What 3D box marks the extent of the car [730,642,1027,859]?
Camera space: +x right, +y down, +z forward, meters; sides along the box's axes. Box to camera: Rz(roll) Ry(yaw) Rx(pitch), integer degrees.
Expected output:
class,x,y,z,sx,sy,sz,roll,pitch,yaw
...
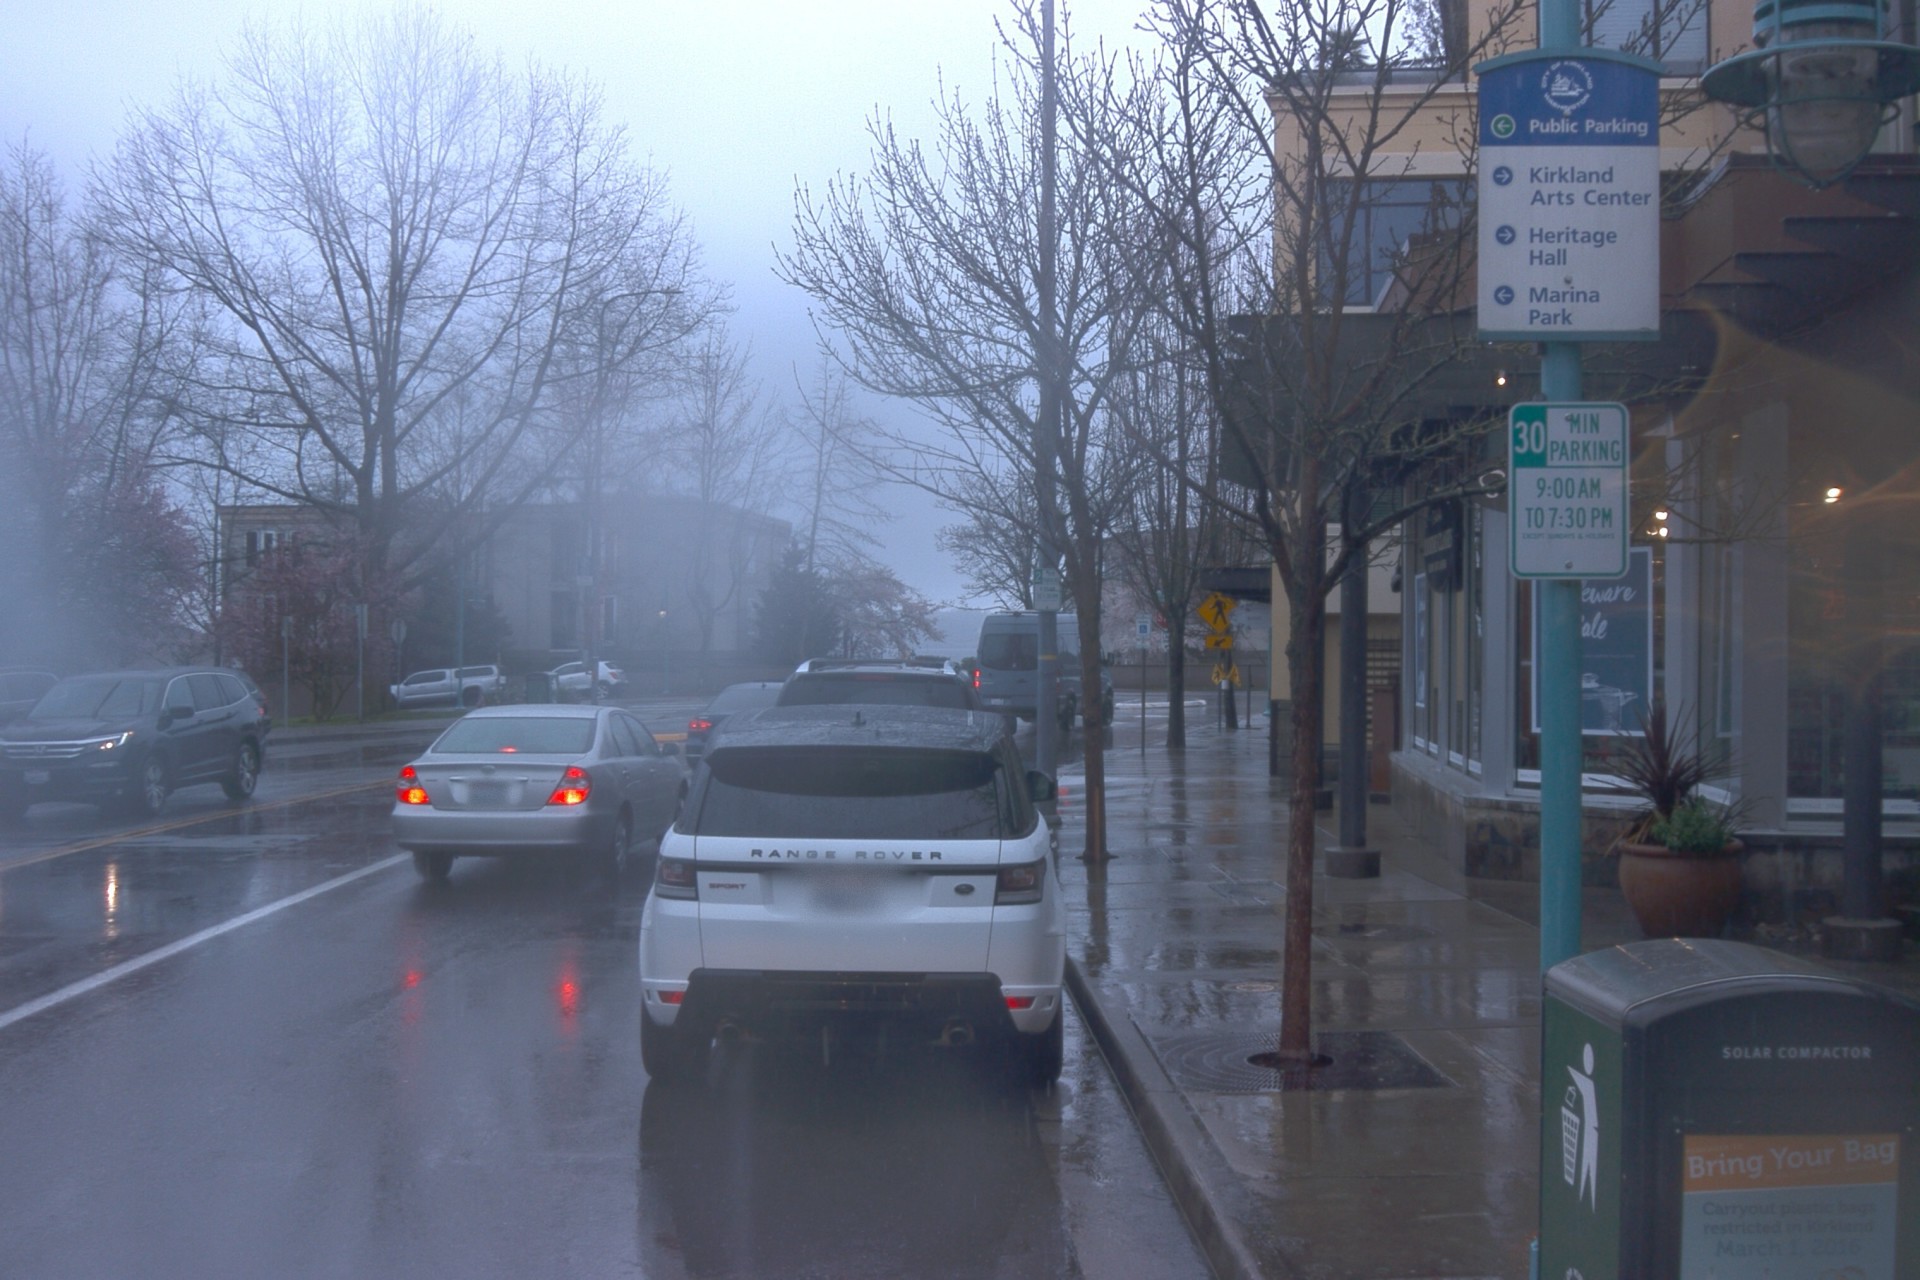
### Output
class,x,y,z,sx,sy,sz,roll,pitch,yaw
car,-0.711,0.838,17.966,2.210,1.560,5.097,1,0,-2

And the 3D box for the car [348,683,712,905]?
class,x,y,z,sx,sy,sz,roll,pitch,yaw
car,-3.694,1.268,18.574,2.047,1.580,4.850,1,0,3

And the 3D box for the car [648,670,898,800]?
class,x,y,z,sx,sy,sz,roll,pitch,yaw
car,-2.652,1.329,30.510,2.237,1.640,5.185,1,0,12

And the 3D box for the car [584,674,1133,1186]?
class,x,y,z,sx,sy,sz,roll,pitch,yaw
car,-0.519,1.264,11.131,2.265,2.000,5.125,1,0,-2
